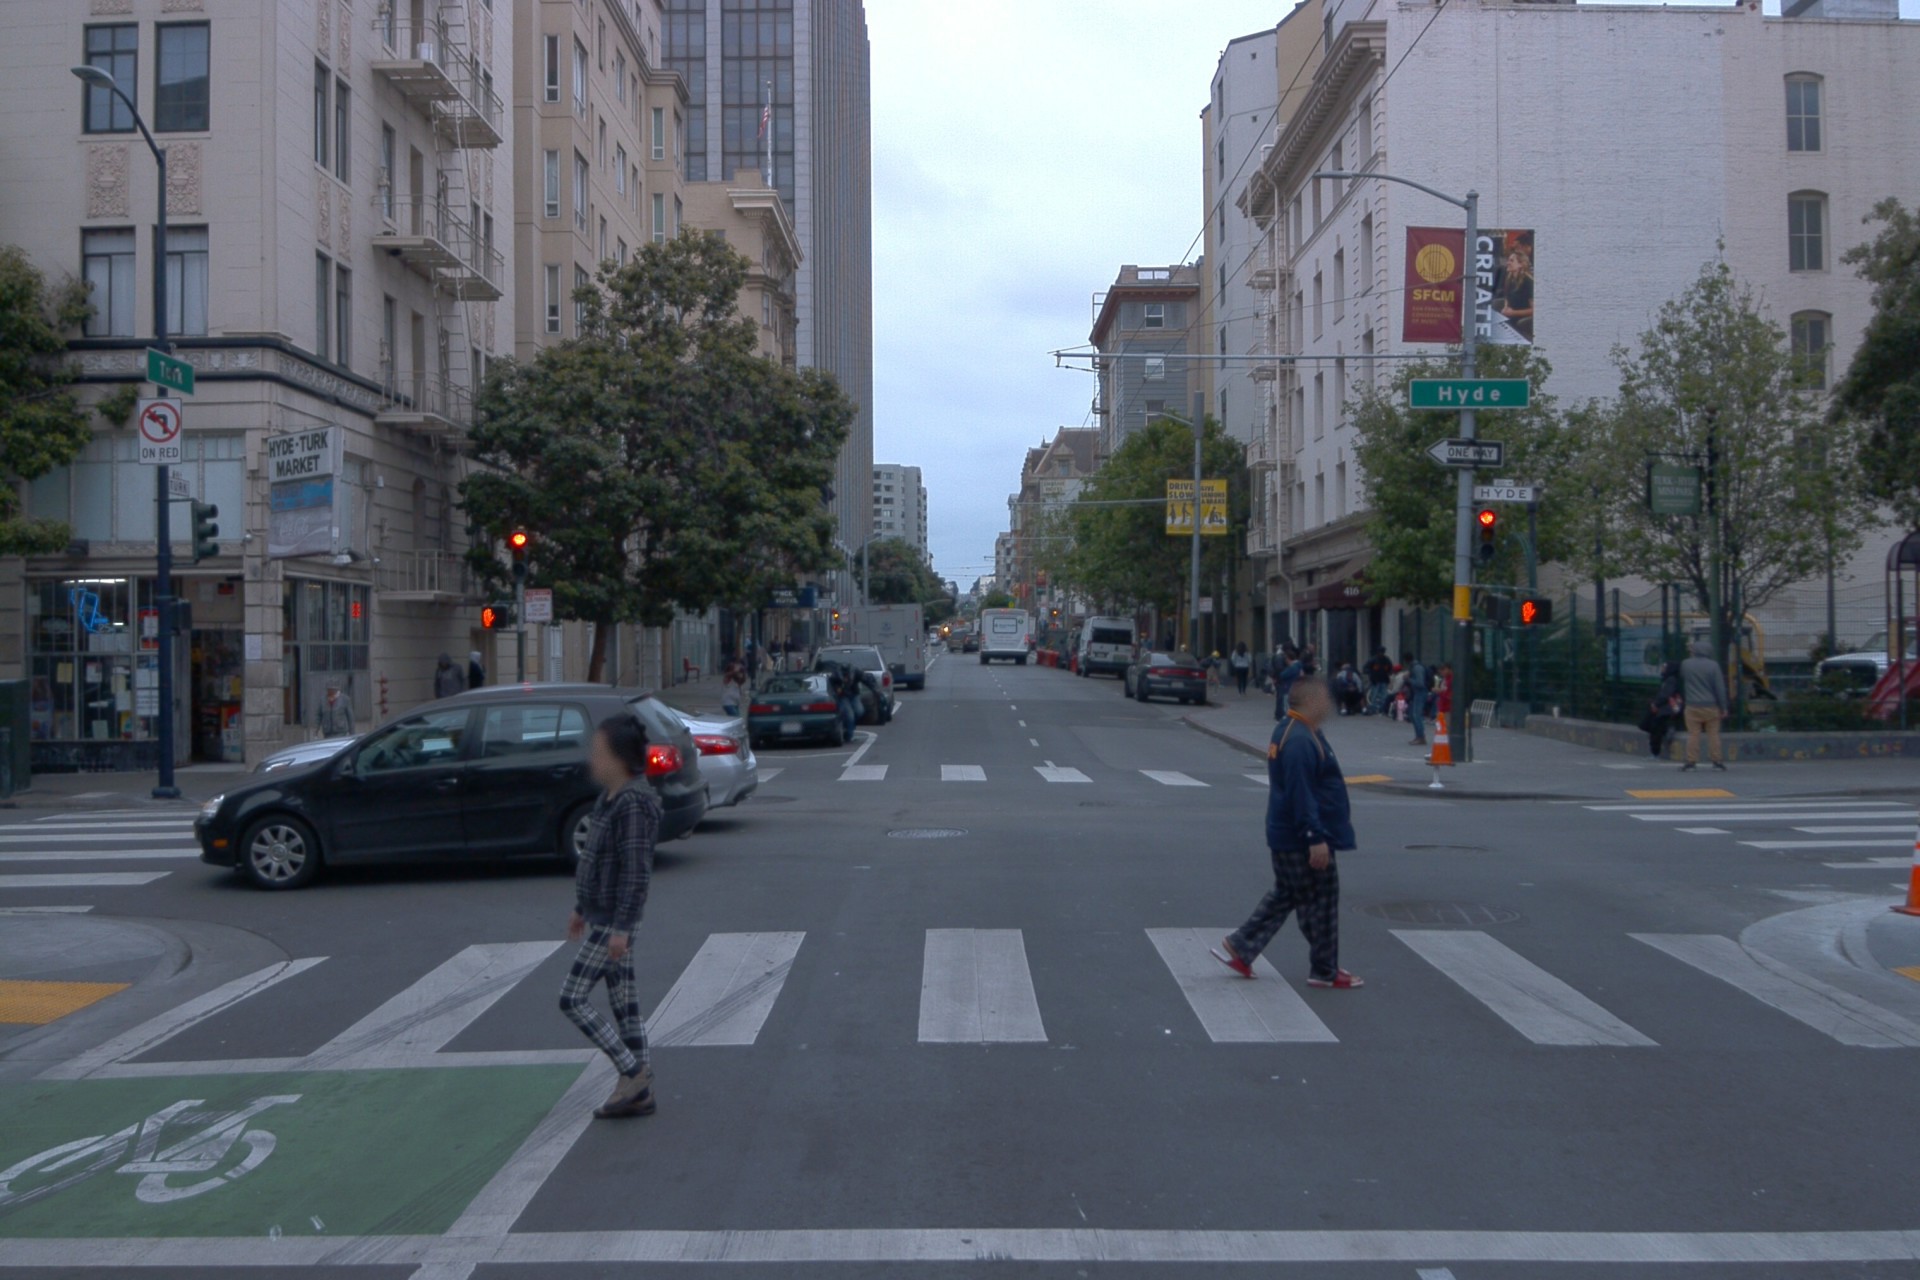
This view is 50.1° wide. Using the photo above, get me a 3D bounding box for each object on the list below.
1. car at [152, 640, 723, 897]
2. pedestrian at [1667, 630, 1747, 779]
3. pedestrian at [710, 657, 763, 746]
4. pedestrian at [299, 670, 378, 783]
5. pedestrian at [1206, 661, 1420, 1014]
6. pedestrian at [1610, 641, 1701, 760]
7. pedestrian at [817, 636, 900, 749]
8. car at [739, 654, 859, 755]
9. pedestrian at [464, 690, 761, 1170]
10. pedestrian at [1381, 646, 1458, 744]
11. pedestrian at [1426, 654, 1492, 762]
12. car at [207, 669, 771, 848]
[{"bbox_3d":[-4.177,1.004,16.929,4.214,1.950,1.862,0,1,1],"label":"car"},{"bbox_3d":[10.306,0.870,28.369,0.836,2.010,0.794,0,1,37],"label":"pedestrian"},{"bbox_3d":[-4.077,1.116,37.489,0.695,1.580,0.680,-1,1,-37],"label":"pedestrian"},{"bbox_3d":[-9.176,1.272,30.381,0.870,1.620,0.823,0,1,3],"label":"pedestrian"},{"bbox_3d":[1.879,1.026,11.084,1.036,1.800,0.907,0,1,3],"label":"pedestrian"},{"bbox_3d":[10.489,0.892,30.998,0.943,1.720,0.965,-1,1,-43],"label":"pedestrian"},{"bbox_3d":[-1.842,0.931,37.299,1.253,1.990,1.101,-1,1,-17],"label":"pedestrian"},{"bbox_3d":[-2.858,1.127,37.322,1.721,1.630,3.892,0,1,2],"label":"car"},{"bbox_3d":[-1.435,1.108,8.356,1.092,1.760,0.989,-1,1,-14],"label":"pedestrian"},{"bbox_3d":[8.295,0.983,37.123,0.930,1.710,1.049,-1,1,-21],"label":"pedestrian"},{"bbox_3d":[7.722,1.044,31.849,0.906,1.620,0.868,0,1,9],"label":"pedestrian"},{"bbox_3d":[-4.390,1.098,19.743,4.933,1.550,2.046,0,1,2],"label":"car"}]
